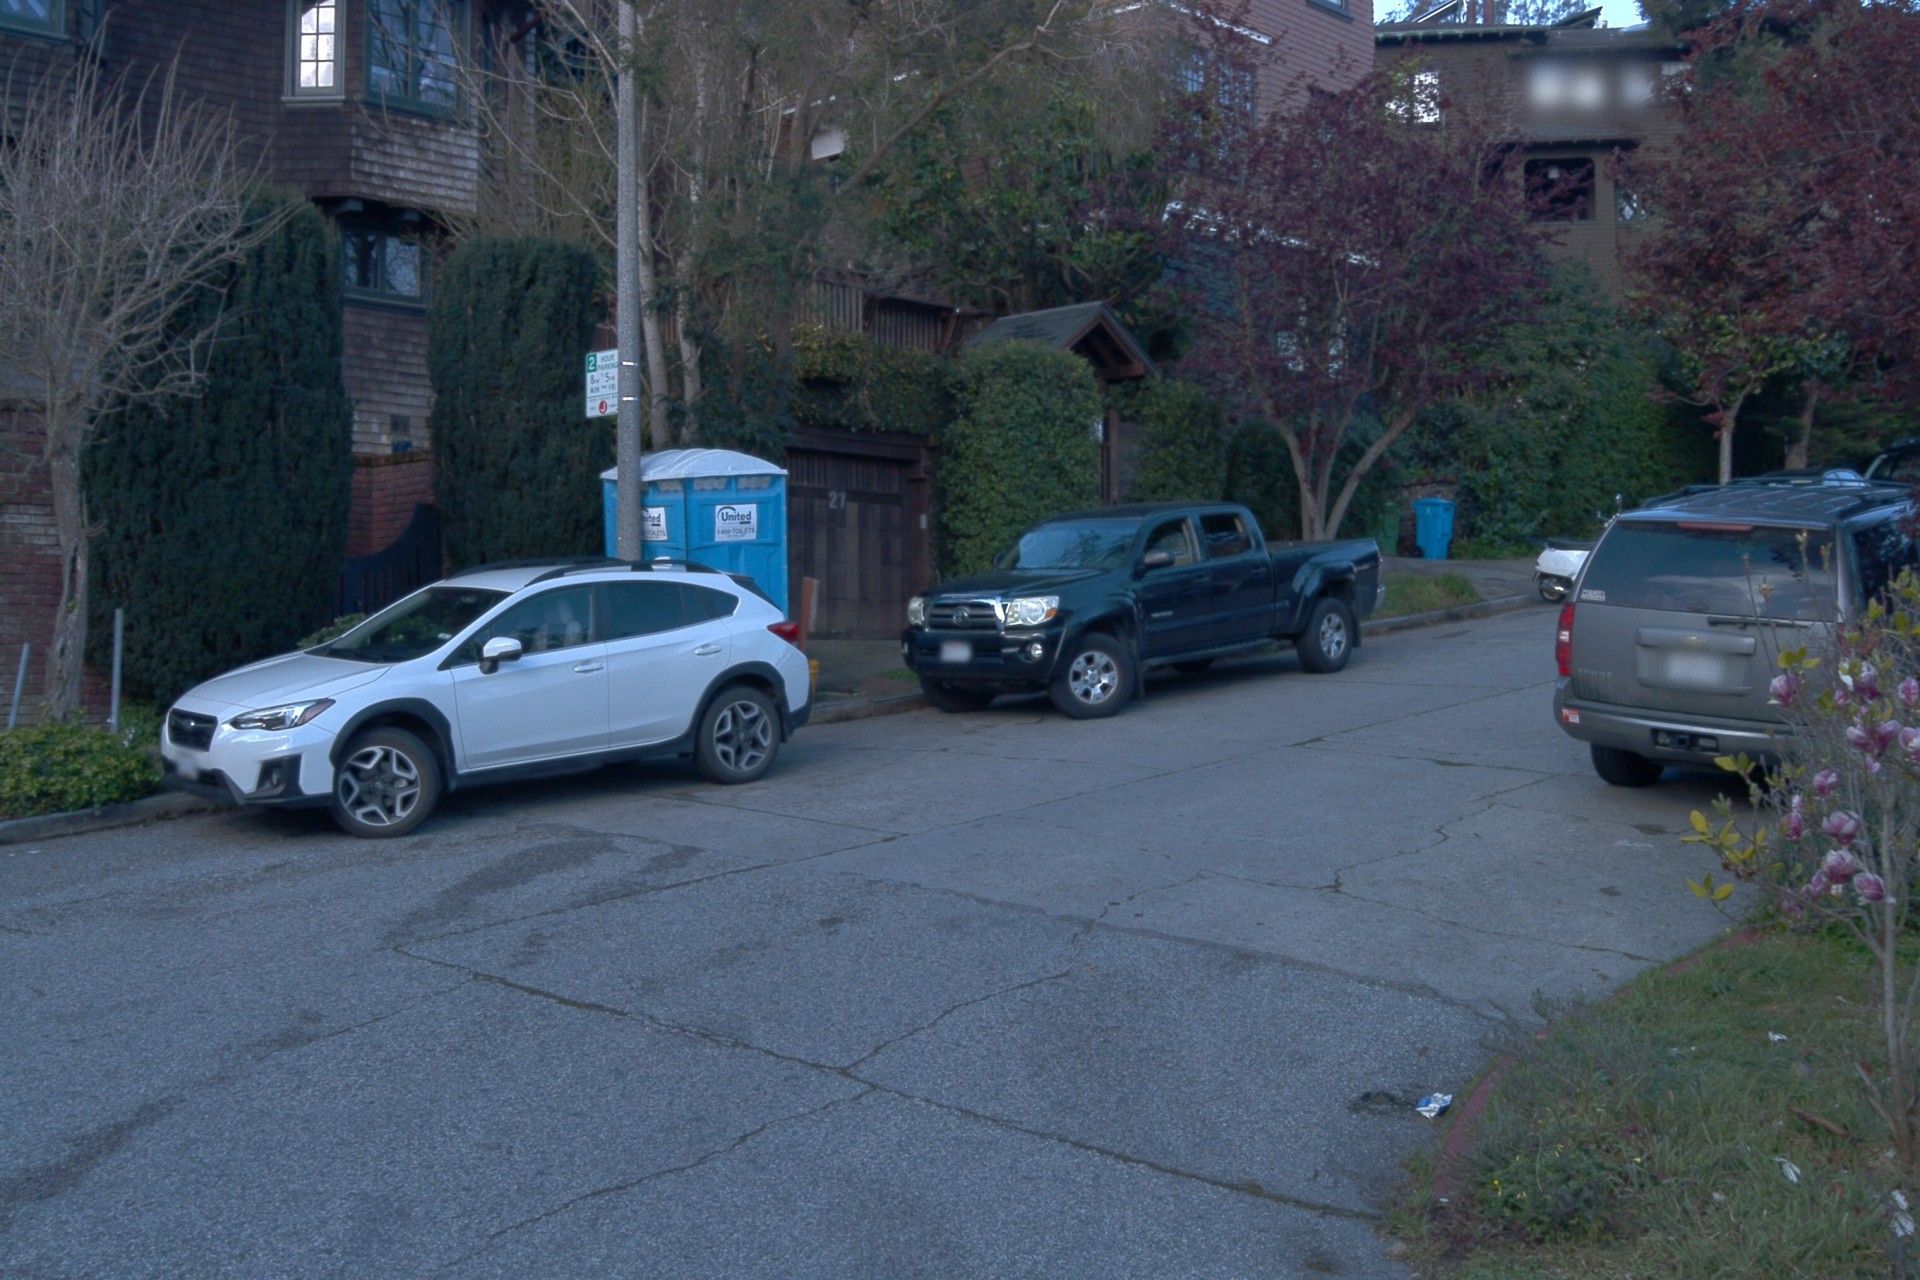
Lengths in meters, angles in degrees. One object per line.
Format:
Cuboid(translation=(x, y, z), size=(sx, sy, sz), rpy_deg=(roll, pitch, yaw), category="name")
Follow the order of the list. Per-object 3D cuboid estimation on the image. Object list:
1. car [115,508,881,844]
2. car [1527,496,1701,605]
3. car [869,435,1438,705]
Cuboid(translation=(-3.032, 0.207, 14.118), size=(4.661, 1.919, 2.143), rpy_deg=(0, 0, -41), category="car")
Cuboid(translation=(8.418, -1.126, 26.522), size=(1.921, 1.324, 0.958), rpy_deg=(0, 0, 37), category="car")
Cuboid(translation=(1.995, -0.550, 19.210), size=(2.255, 2.139, 5.767), rpy_deg=(0, 0, 42), category="car")
